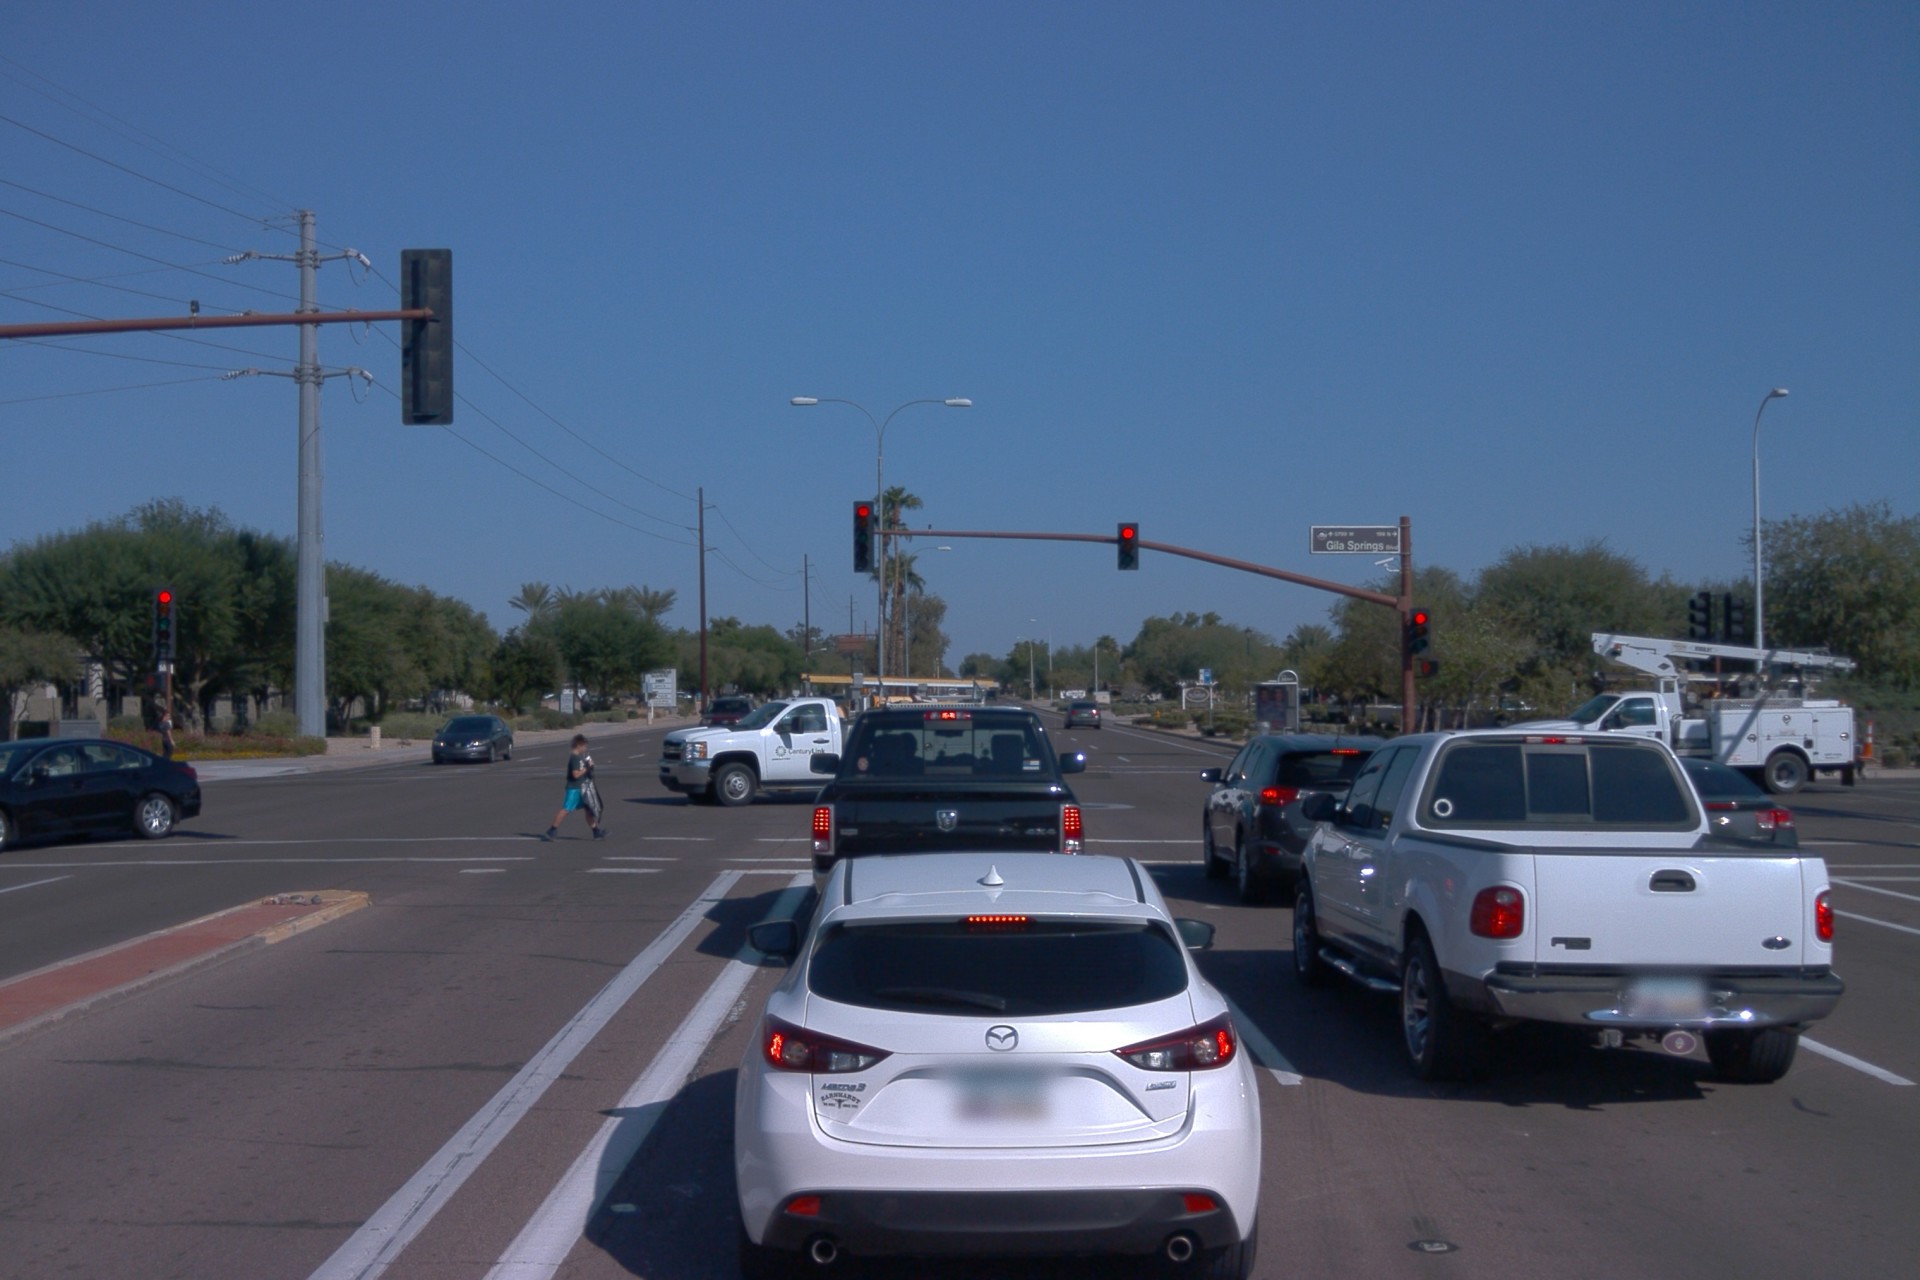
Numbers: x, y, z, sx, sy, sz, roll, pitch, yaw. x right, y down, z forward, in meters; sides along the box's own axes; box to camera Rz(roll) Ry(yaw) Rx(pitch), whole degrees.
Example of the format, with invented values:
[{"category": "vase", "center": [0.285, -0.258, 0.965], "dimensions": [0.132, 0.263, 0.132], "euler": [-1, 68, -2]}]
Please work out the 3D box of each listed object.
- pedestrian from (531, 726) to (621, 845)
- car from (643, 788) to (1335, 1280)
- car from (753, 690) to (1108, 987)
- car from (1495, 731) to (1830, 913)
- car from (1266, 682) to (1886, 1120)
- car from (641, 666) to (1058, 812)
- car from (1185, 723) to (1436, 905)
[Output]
[{"category": "pedestrian", "center": [-5.056, 1.909, 27.476], "dimensions": [1.087, 1.530, 0.743], "euler": [0, -1, -4]}, {"category": "car", "center": [0.090, 1.517, 8.642], "dimensions": [2.099, 1.600, 4.628], "euler": [0, -1, 0]}, {"category": "car", "center": [-0.131, 1.462, 17.159], "dimensions": [2.500, 2.080, 5.001], "euler": [0, -1, 2]}, {"category": "car", "center": [6.821, 1.721, 20.756], "dimensions": [1.828, 1.540, 4.447], "euler": [0, -1, 0]}, {"category": "car", "center": [3.325, 1.312, 12.630], "dimensions": [2.073, 2.070, 5.518], "euler": [0, -1, -1]}, {"category": "car", "center": [-1.989, 1.722, 37.509], "dimensions": [6.870, 2.440, 3.041], "euler": [1, -1, -24]}, {"category": "car", "center": [3.481, 1.702, 21.427], "dimensions": [1.789, 1.630, 4.213], "euler": [0, -1, -1]}]
